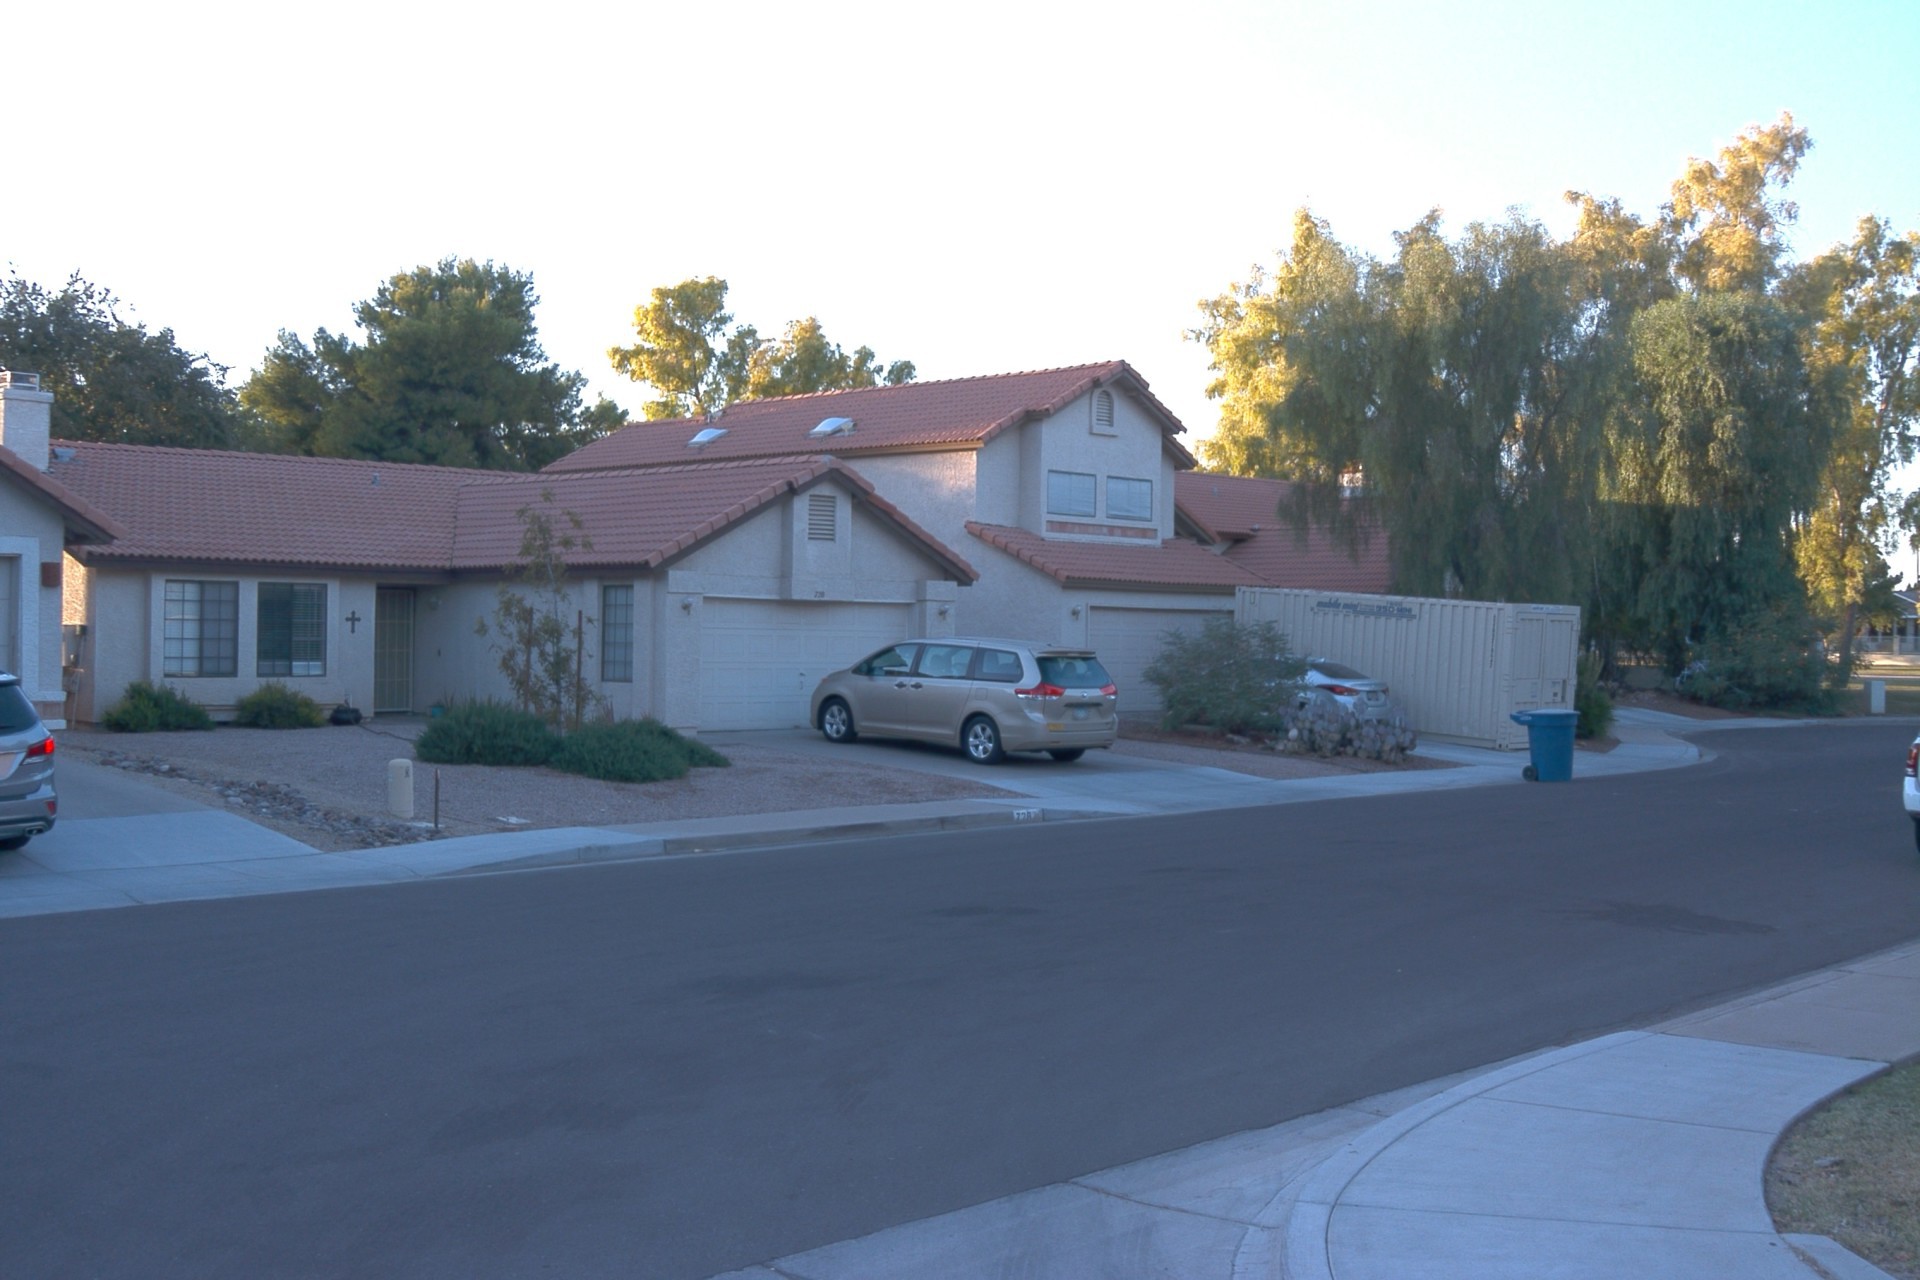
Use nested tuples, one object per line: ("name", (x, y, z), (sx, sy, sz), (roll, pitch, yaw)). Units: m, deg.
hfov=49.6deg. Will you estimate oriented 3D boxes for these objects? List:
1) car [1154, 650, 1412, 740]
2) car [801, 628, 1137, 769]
("car", (5.877, 0.972, 38.110), (4.304, 1.560, 2.021), (0, -1, 45))
("car", (0.055, 0.817, 30.759), (4.850, 1.910, 2.173), (0, -1, 45))
